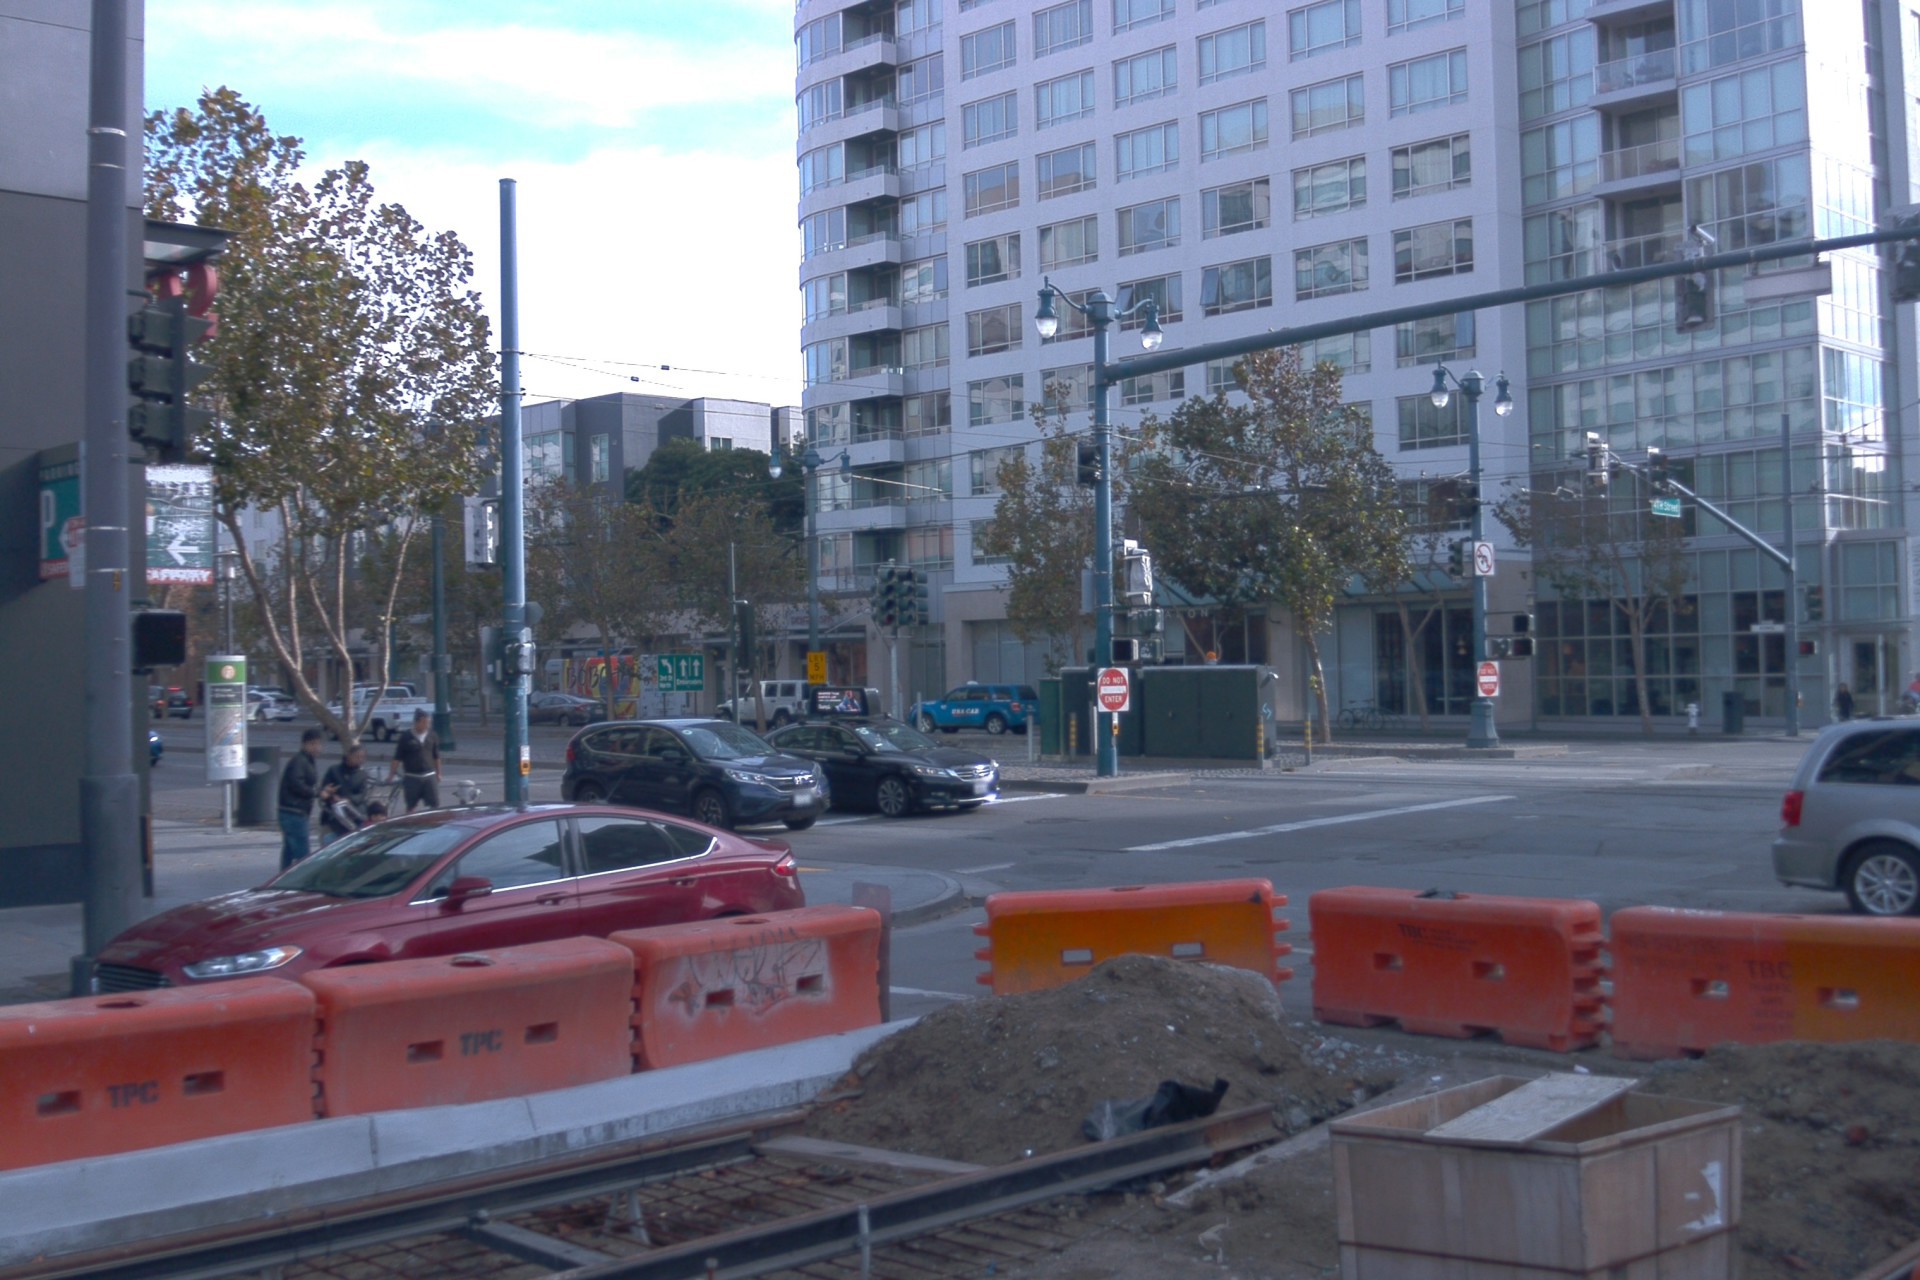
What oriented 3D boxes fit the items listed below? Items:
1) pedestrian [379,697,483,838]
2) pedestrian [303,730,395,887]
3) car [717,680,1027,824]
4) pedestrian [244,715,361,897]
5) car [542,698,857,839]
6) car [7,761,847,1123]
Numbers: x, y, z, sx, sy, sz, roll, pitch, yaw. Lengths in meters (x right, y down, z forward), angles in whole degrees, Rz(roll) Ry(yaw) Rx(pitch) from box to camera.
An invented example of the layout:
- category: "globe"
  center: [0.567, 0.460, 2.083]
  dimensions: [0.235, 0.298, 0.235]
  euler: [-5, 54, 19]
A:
- category: "pedestrian"
  center: [-7.123, 1.693, 27.974]
  dimensions: [0.942, 1.830, 0.981]
  euler: [0, -1, 44]
- category: "pedestrian"
  center: [-5.985, 1.632, 20.349]
  dimensions: [0.660, 1.460, 0.723]
  euler: [1, -1, -35]
- category: "car"
  center: [-1.465, 1.690, 32.877]
  dimensions: [4.947, 2.035, 1.963]
  euler: [0, -1, 43]
- category: "pedestrian"
  center: [-6.289, 1.566, 19.885]
  dimensions: [0.748, 1.660, 0.767]
  euler: [0, -1, 38]
- category: "car"
  center: [-3.859, 1.796, 30.317]
  dimensions: [4.616, 1.792, 2.053]
  euler: [0, -1, 42]
- category: "car"
  center: [-3.148, 1.695, 13.198]
  dimensions: [2.127, 1.605, 4.820]
  euler: [0, -1, 40]
